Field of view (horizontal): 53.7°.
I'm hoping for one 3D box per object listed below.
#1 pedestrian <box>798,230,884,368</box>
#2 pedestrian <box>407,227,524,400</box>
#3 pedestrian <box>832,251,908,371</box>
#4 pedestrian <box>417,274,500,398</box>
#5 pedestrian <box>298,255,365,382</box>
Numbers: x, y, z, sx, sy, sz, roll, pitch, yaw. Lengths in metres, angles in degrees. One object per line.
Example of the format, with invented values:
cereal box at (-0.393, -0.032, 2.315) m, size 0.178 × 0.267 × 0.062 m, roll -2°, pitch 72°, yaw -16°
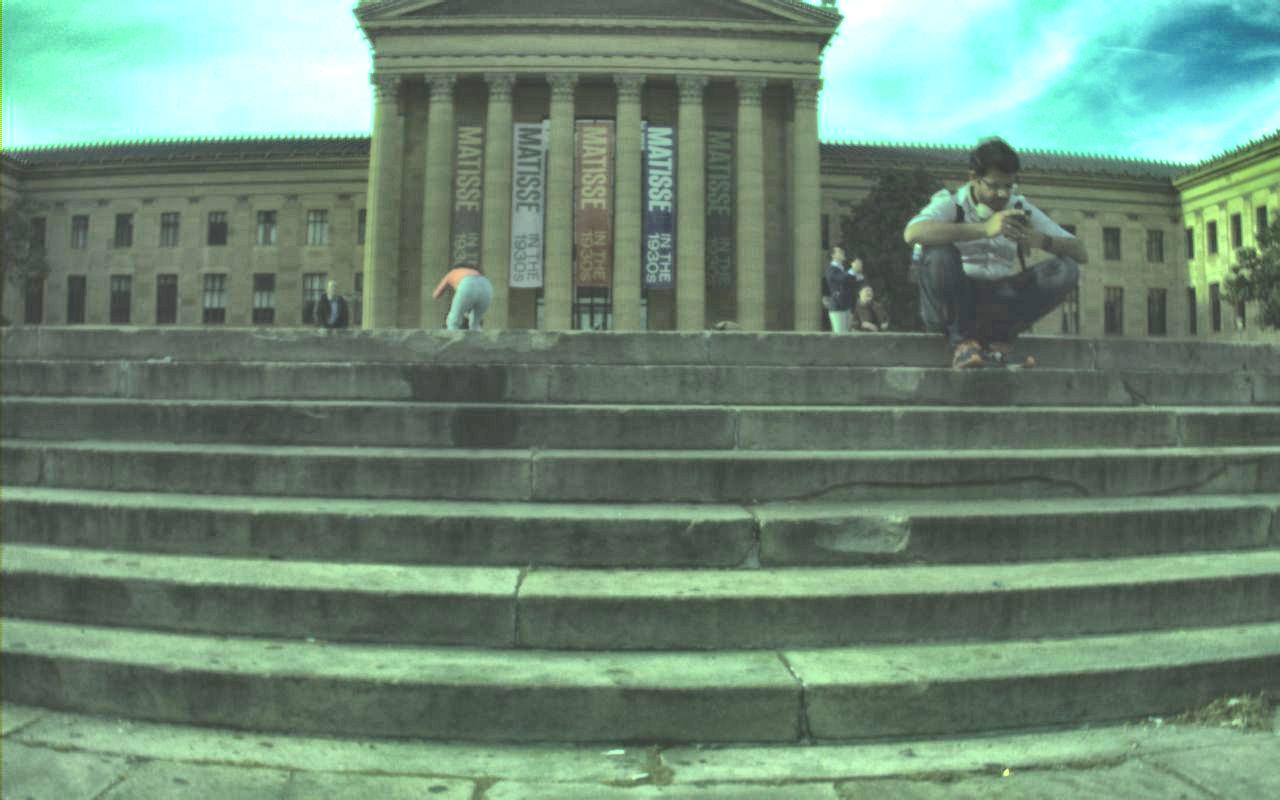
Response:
pedestrian at (2.689, -1.317, 16.711) m, size 0.827 × 1.779 × 0.809 m, roll 0°, pitch 0°, yaw -40°
pedestrian at (-1.803, -0.855, 12.823) m, size 0.867 × 1.694 × 0.903 m, roll 0°, pitch 0°, yaw -36°
pedestrian at (3.260, -1.233, 17.687) m, size 0.769 × 1.637 × 0.762 m, roll 0°, pitch 0°, yaw -32°
pedestrian at (-2.511, -0.867, 17.334) m, size 0.837 × 1.664 × 0.846 m, roll 1°, pitch 0°, yaw 19°
pedestrian at (-4.309, -1.108, 17.103) m, size 0.785 × 1.722 × 0.769 m, roll 0°, pitch 0°, yaw -26°
